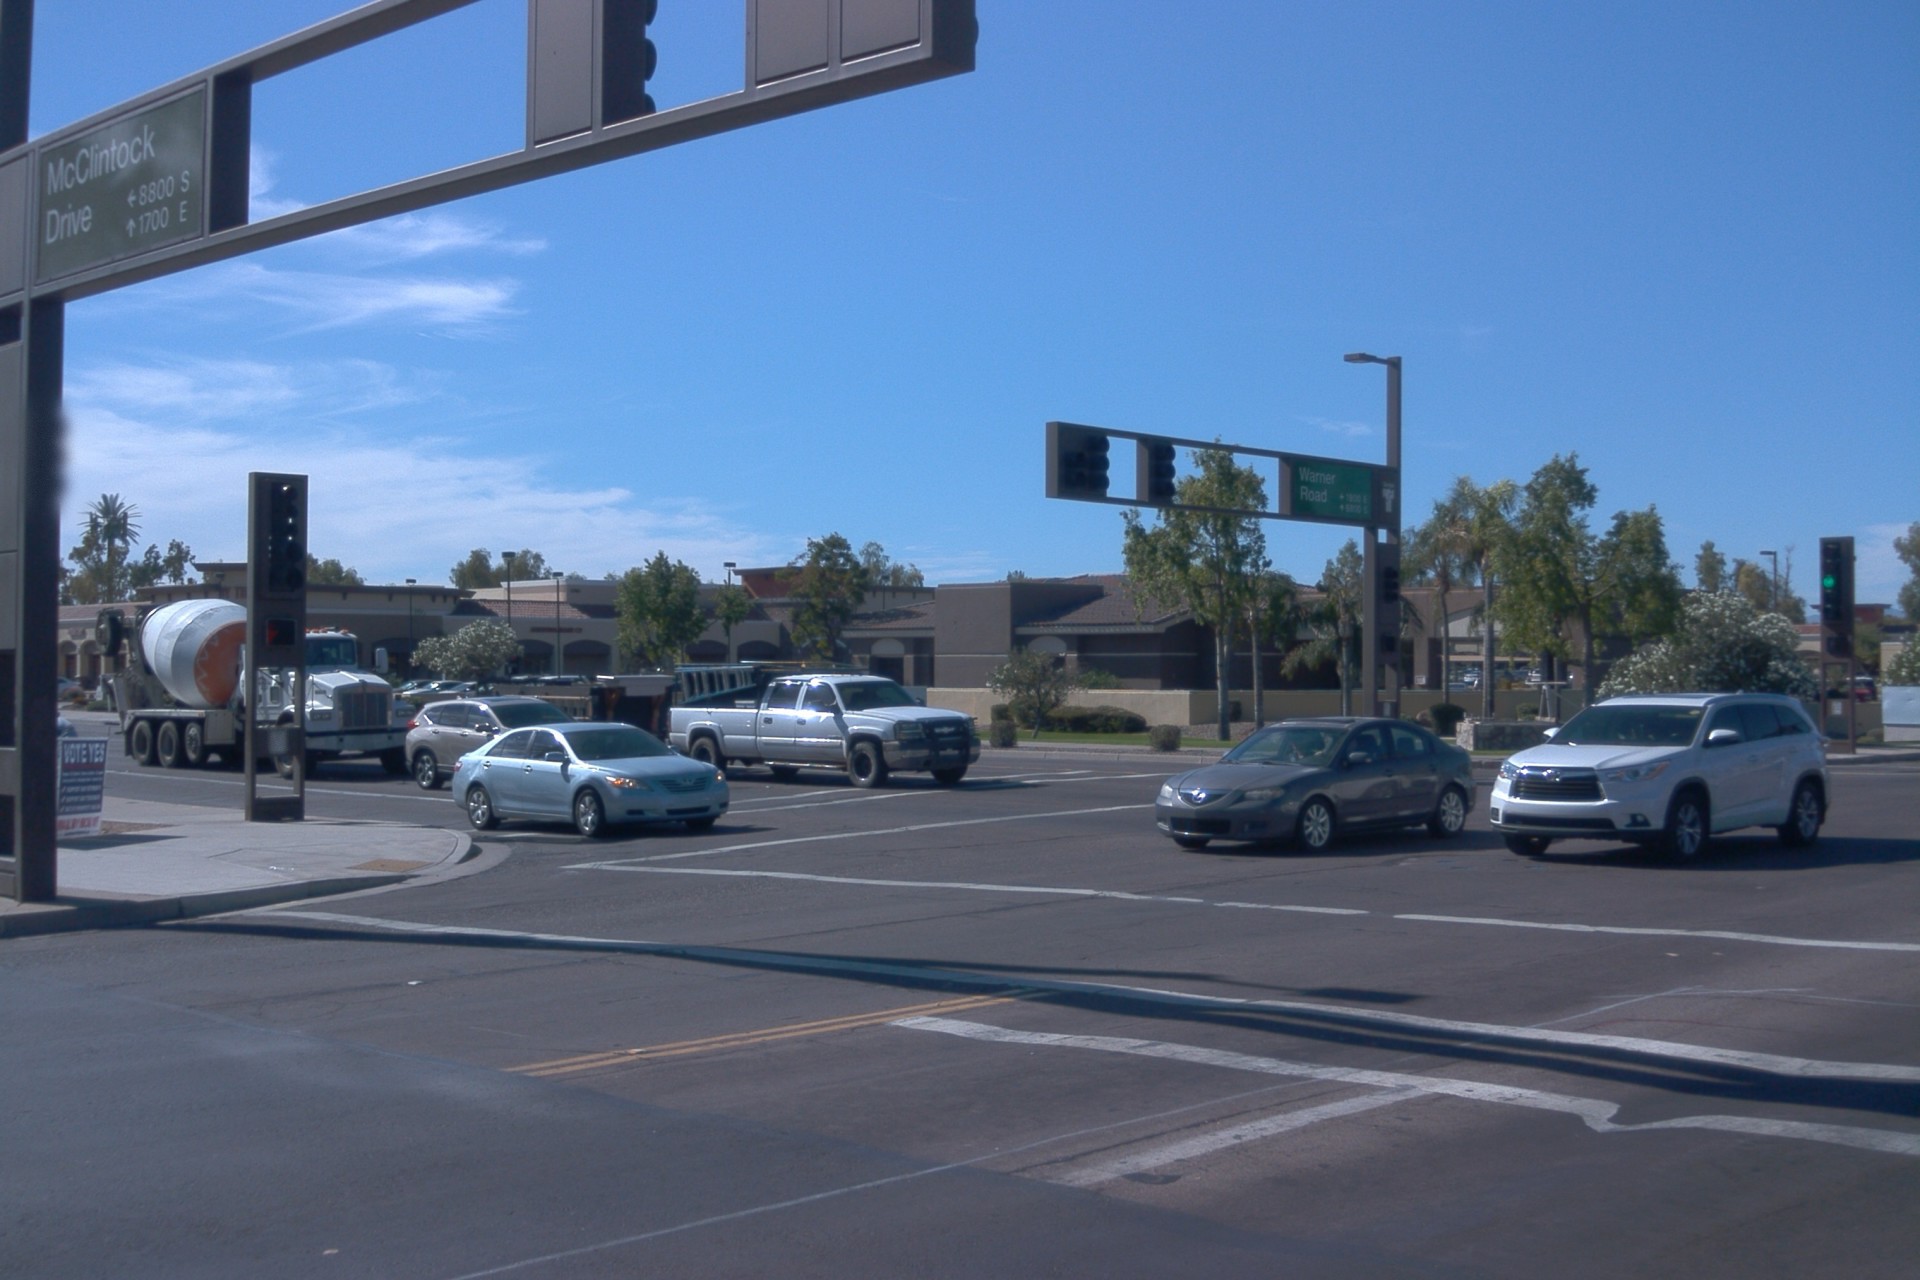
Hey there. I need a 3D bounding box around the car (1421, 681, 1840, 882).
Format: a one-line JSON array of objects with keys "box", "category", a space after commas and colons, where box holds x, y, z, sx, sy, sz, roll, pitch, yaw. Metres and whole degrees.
[{"box": [7.188, 1.372, 22.011, 2.237, 1.810, 4.889, 0, 0, 45], "category": "car"}]

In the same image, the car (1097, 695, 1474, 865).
[{"box": [3.779, 1.502, 23.671, 2.064, 1.650, 4.389, 0, 0, 44], "category": "car"}]

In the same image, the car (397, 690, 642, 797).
[{"box": [-7.798, 1.757, 36.595, 2.133, 1.650, 4.428, 1, 0, -45], "category": "car"}]

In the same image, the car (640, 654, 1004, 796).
[{"box": [-2.569, 1.406, 36.979, 6.713, 2.210, 2.570, 1, 0, 44], "category": "car"}]

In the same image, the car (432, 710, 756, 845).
[{"box": [-5.089, 1.804, 28.490, 2.183, 1.500, 4.758, 1, 0, -42], "category": "car"}]
